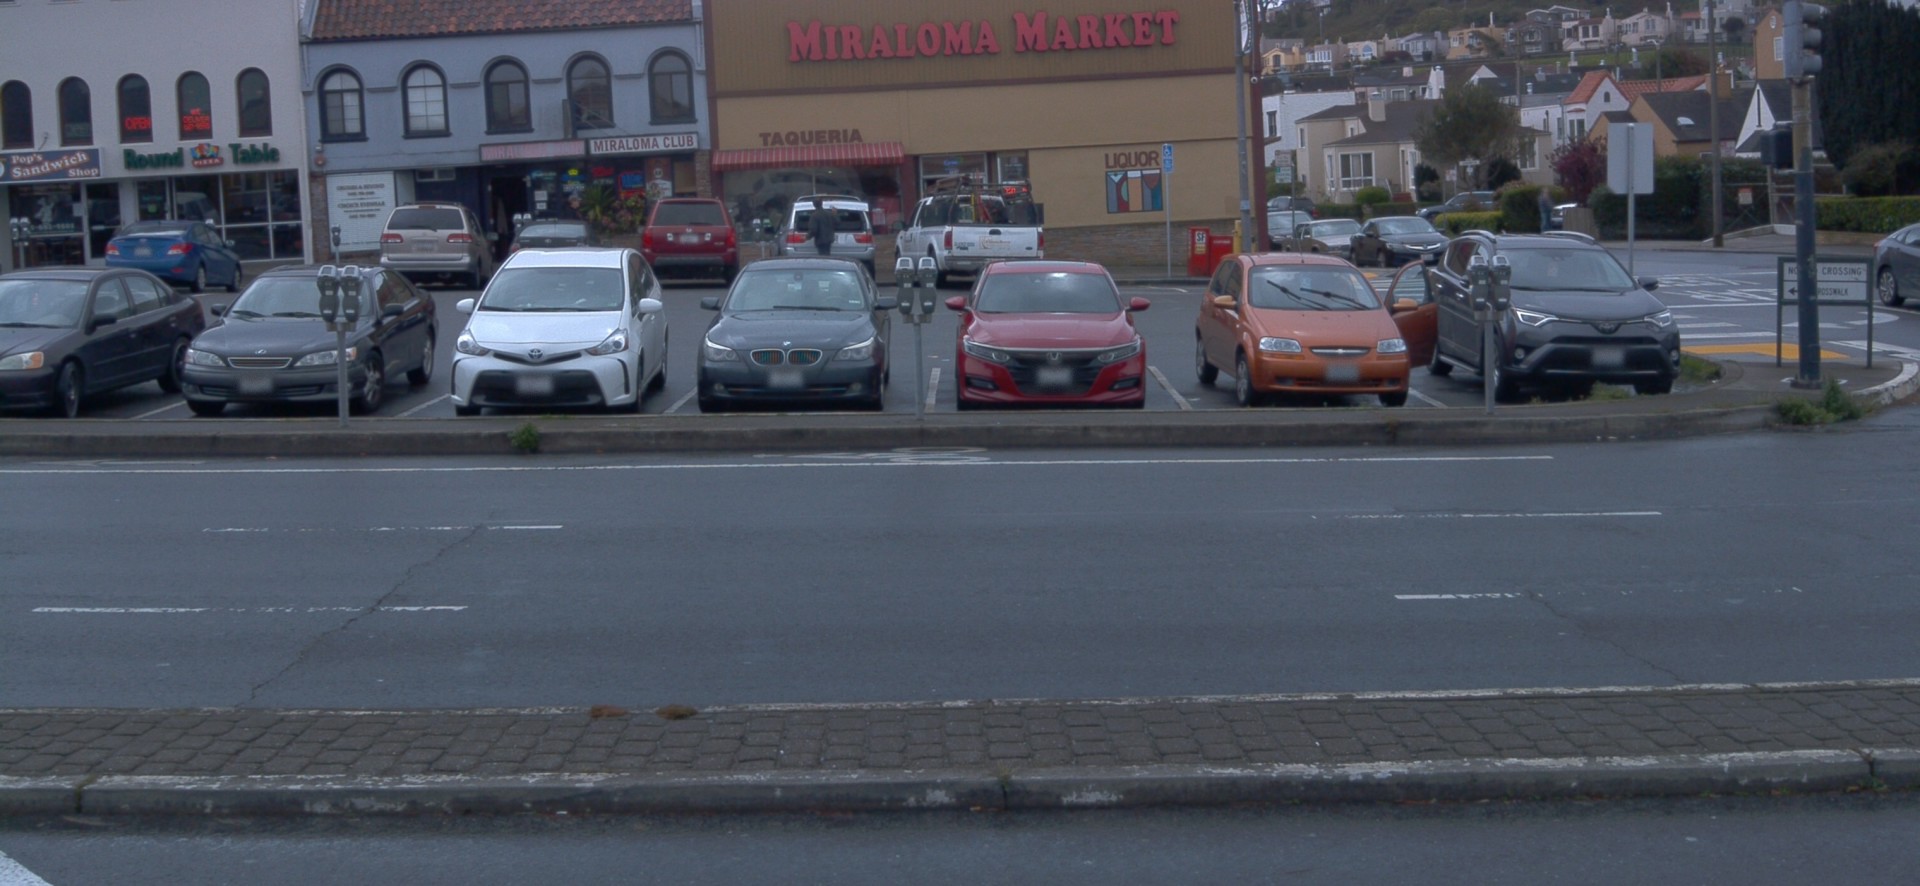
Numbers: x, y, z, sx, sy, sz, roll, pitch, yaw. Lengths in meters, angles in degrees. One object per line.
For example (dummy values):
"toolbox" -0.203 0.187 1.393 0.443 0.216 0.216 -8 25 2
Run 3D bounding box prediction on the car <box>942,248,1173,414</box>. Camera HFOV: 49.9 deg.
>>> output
"car" 0.907 -1.279 21.830 2.185 1.461 4.636 0 6 -1

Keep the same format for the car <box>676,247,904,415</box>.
"car" -1.657 -1.271 21.658 2.112 1.461 4.574 0 6 -1

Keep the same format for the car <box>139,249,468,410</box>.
"car" -6.718 -1.285 21.703 2.023 1.392 4.712 0 6 -1

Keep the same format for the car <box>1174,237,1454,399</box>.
"car" 3.612 -1.400 21.804 2.049 1.462 4.037 0 6 -4

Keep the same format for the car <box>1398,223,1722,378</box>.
"car" 6.390 -1.646 22.574 2.205 1.461 4.580 0 6 0

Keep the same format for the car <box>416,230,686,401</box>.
"car" -4.070 -1.419 21.331 2.132 1.491 4.678 0 6 -4

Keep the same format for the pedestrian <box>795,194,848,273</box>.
"pedestrian" -2.602 -3.942 38.737 0.718 1.457 0.708 1 3 28
